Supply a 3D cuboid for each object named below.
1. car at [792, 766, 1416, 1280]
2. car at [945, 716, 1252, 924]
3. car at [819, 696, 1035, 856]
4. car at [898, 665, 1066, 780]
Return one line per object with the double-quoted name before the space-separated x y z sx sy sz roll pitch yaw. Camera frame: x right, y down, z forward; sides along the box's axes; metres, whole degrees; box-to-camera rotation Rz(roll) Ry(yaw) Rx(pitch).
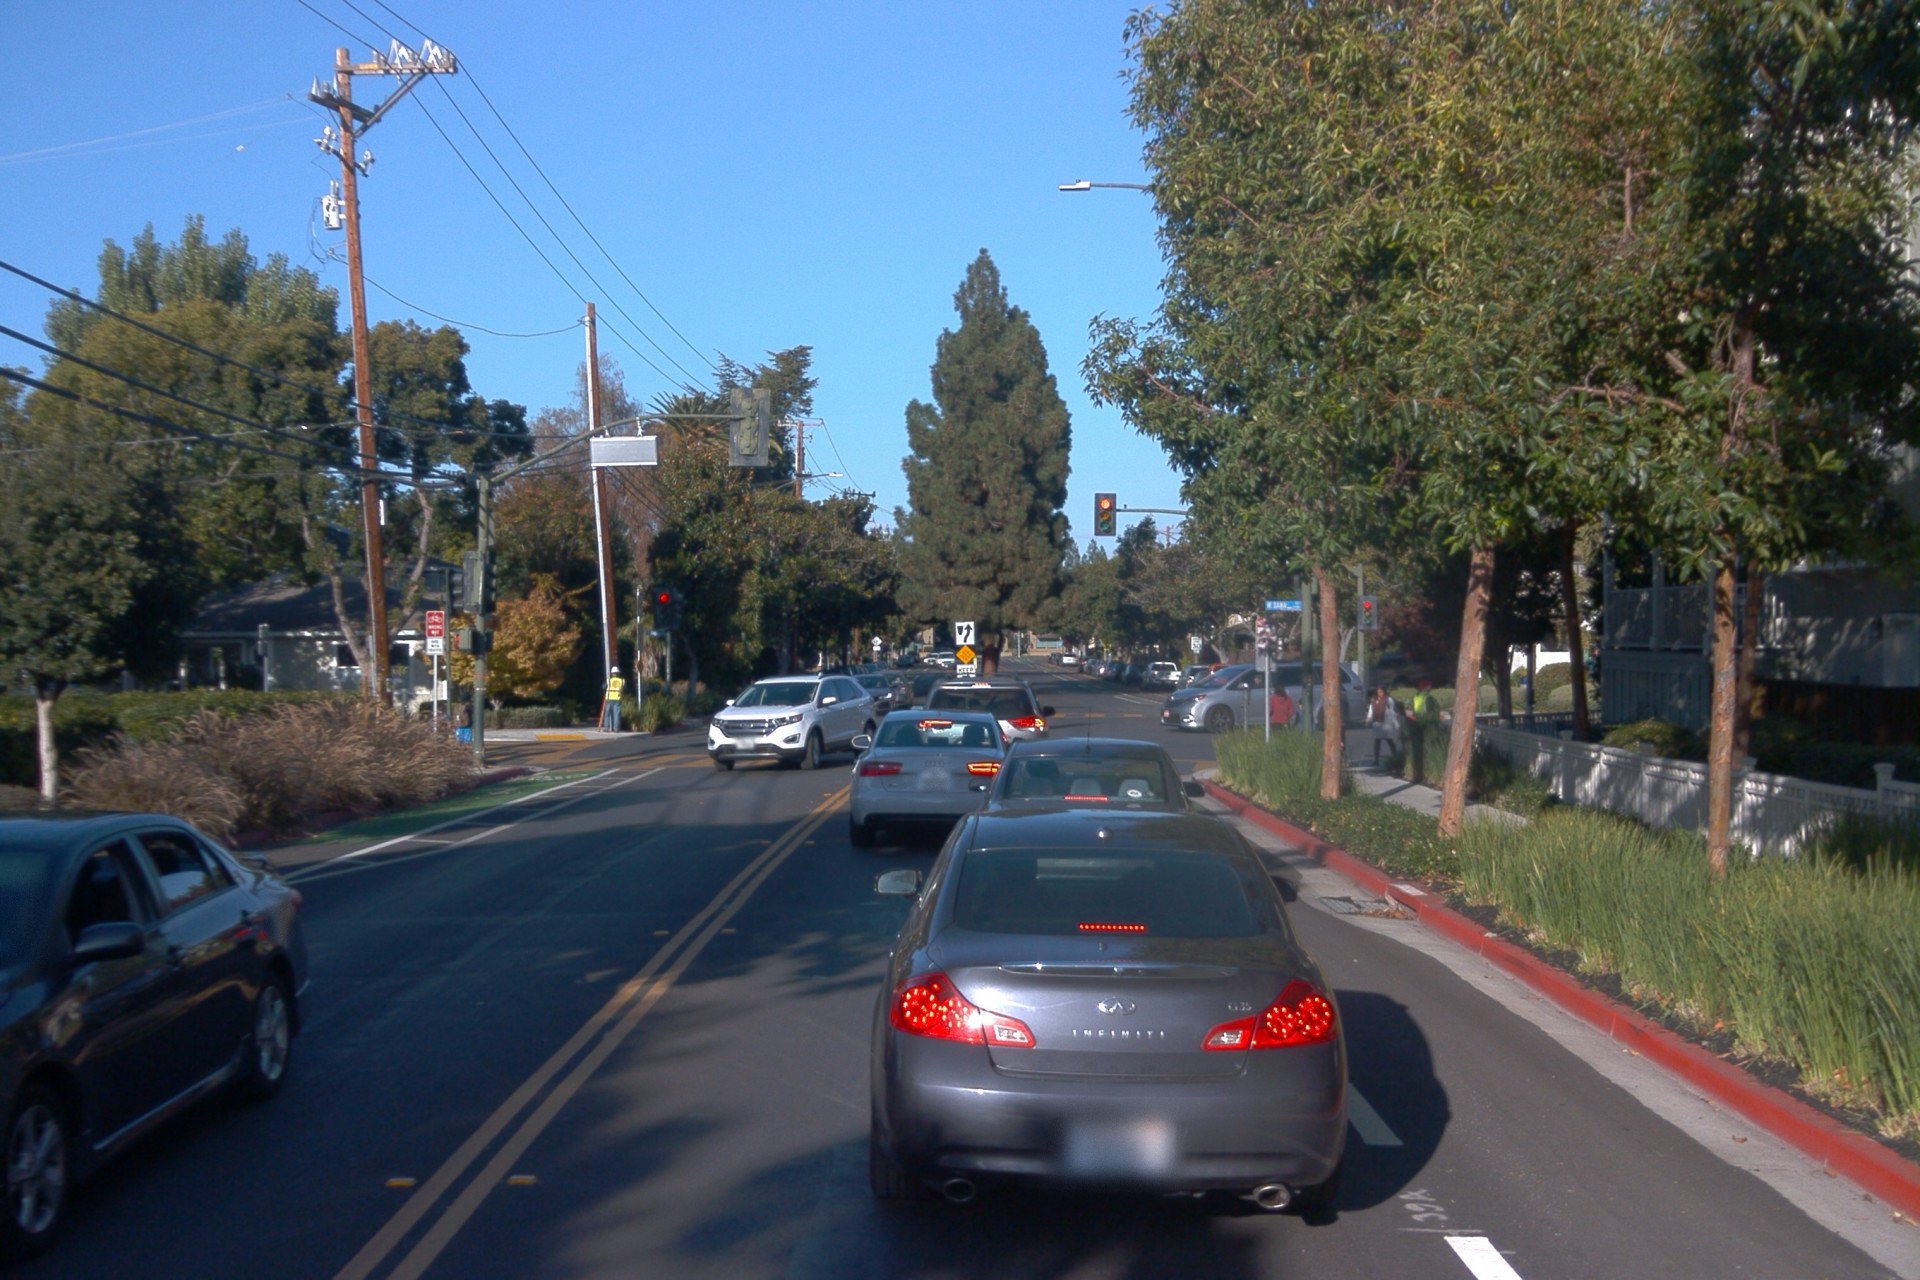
"car" 0.566 1.427 9.064 2.033 1.460 4.435 1 0 3
"car" 0.991 1.273 15.845 2.028 1.210 4.035 1 0 2
"car" -0.262 1.450 23.532 2.122 1.500 4.397 1 0 3
"car" 0.354 1.179 31.289 2.317 1.510 4.744 1 0 1
